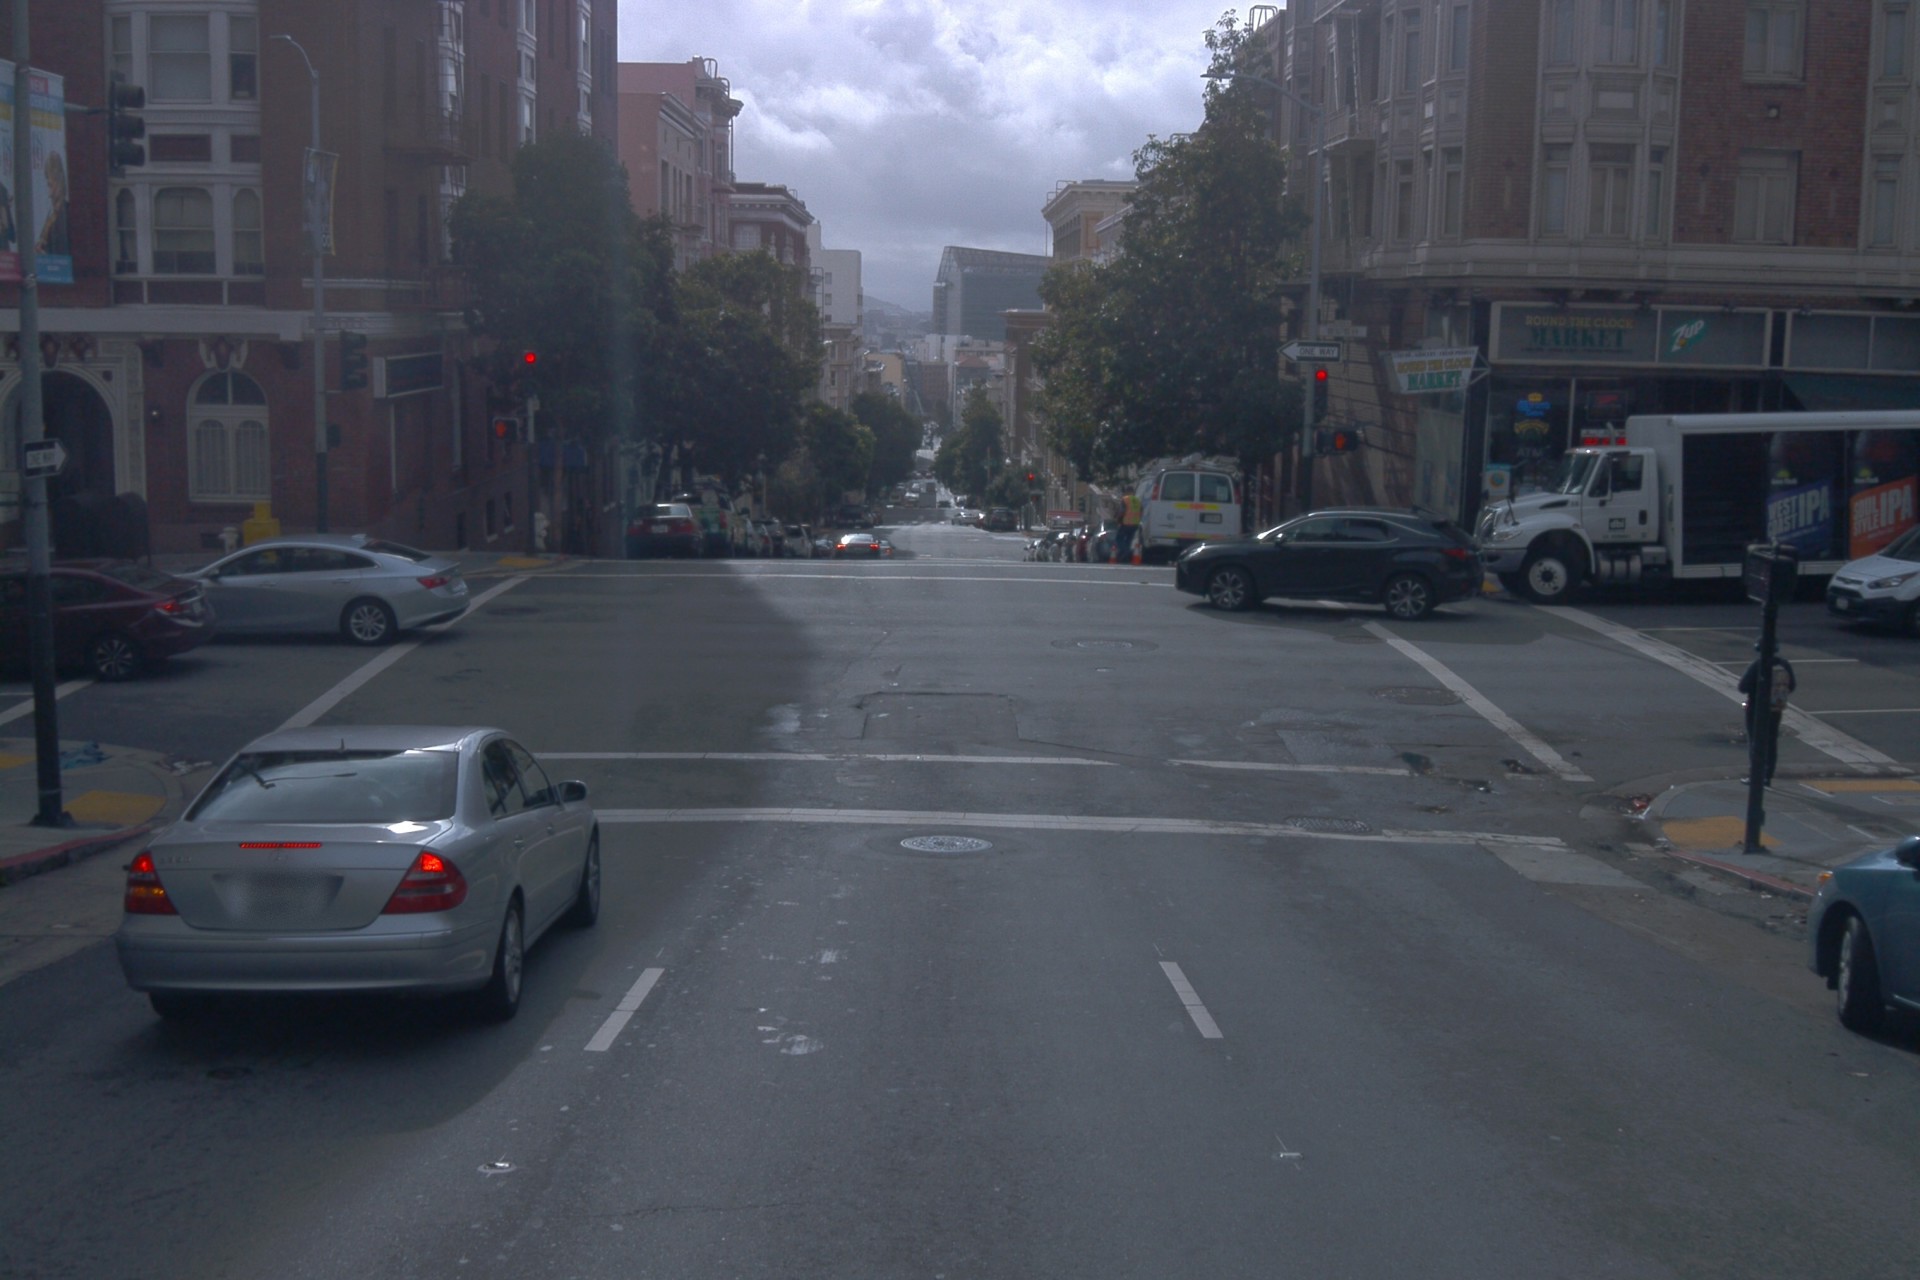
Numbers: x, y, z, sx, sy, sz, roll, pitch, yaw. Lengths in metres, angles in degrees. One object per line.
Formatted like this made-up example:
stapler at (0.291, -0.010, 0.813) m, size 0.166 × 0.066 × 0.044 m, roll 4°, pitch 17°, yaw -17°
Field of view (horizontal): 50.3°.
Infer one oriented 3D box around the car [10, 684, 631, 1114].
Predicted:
car at (-3.199, 1.200, 11.378) m, size 2.074 × 1.700 × 4.689 m, roll 1°, pitch 1°, yaw -2°

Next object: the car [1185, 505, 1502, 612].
car at (6.145, -1.295, 32.677) m, size 4.651 × 1.608 × 2.129 m, roll 1°, pitch 1°, yaw 21°

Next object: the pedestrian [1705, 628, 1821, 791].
pedestrian at (8.097, 0.683, 20.644) m, size 0.752 × 1.590 × 0.926 m, roll 1°, pitch 1°, yaw -2°

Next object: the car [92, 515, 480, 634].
car at (-9.230, -0.885, 28.294) m, size 4.737 × 1.500 × 1.876 m, roll 1°, pitch 1°, yaw -1°
